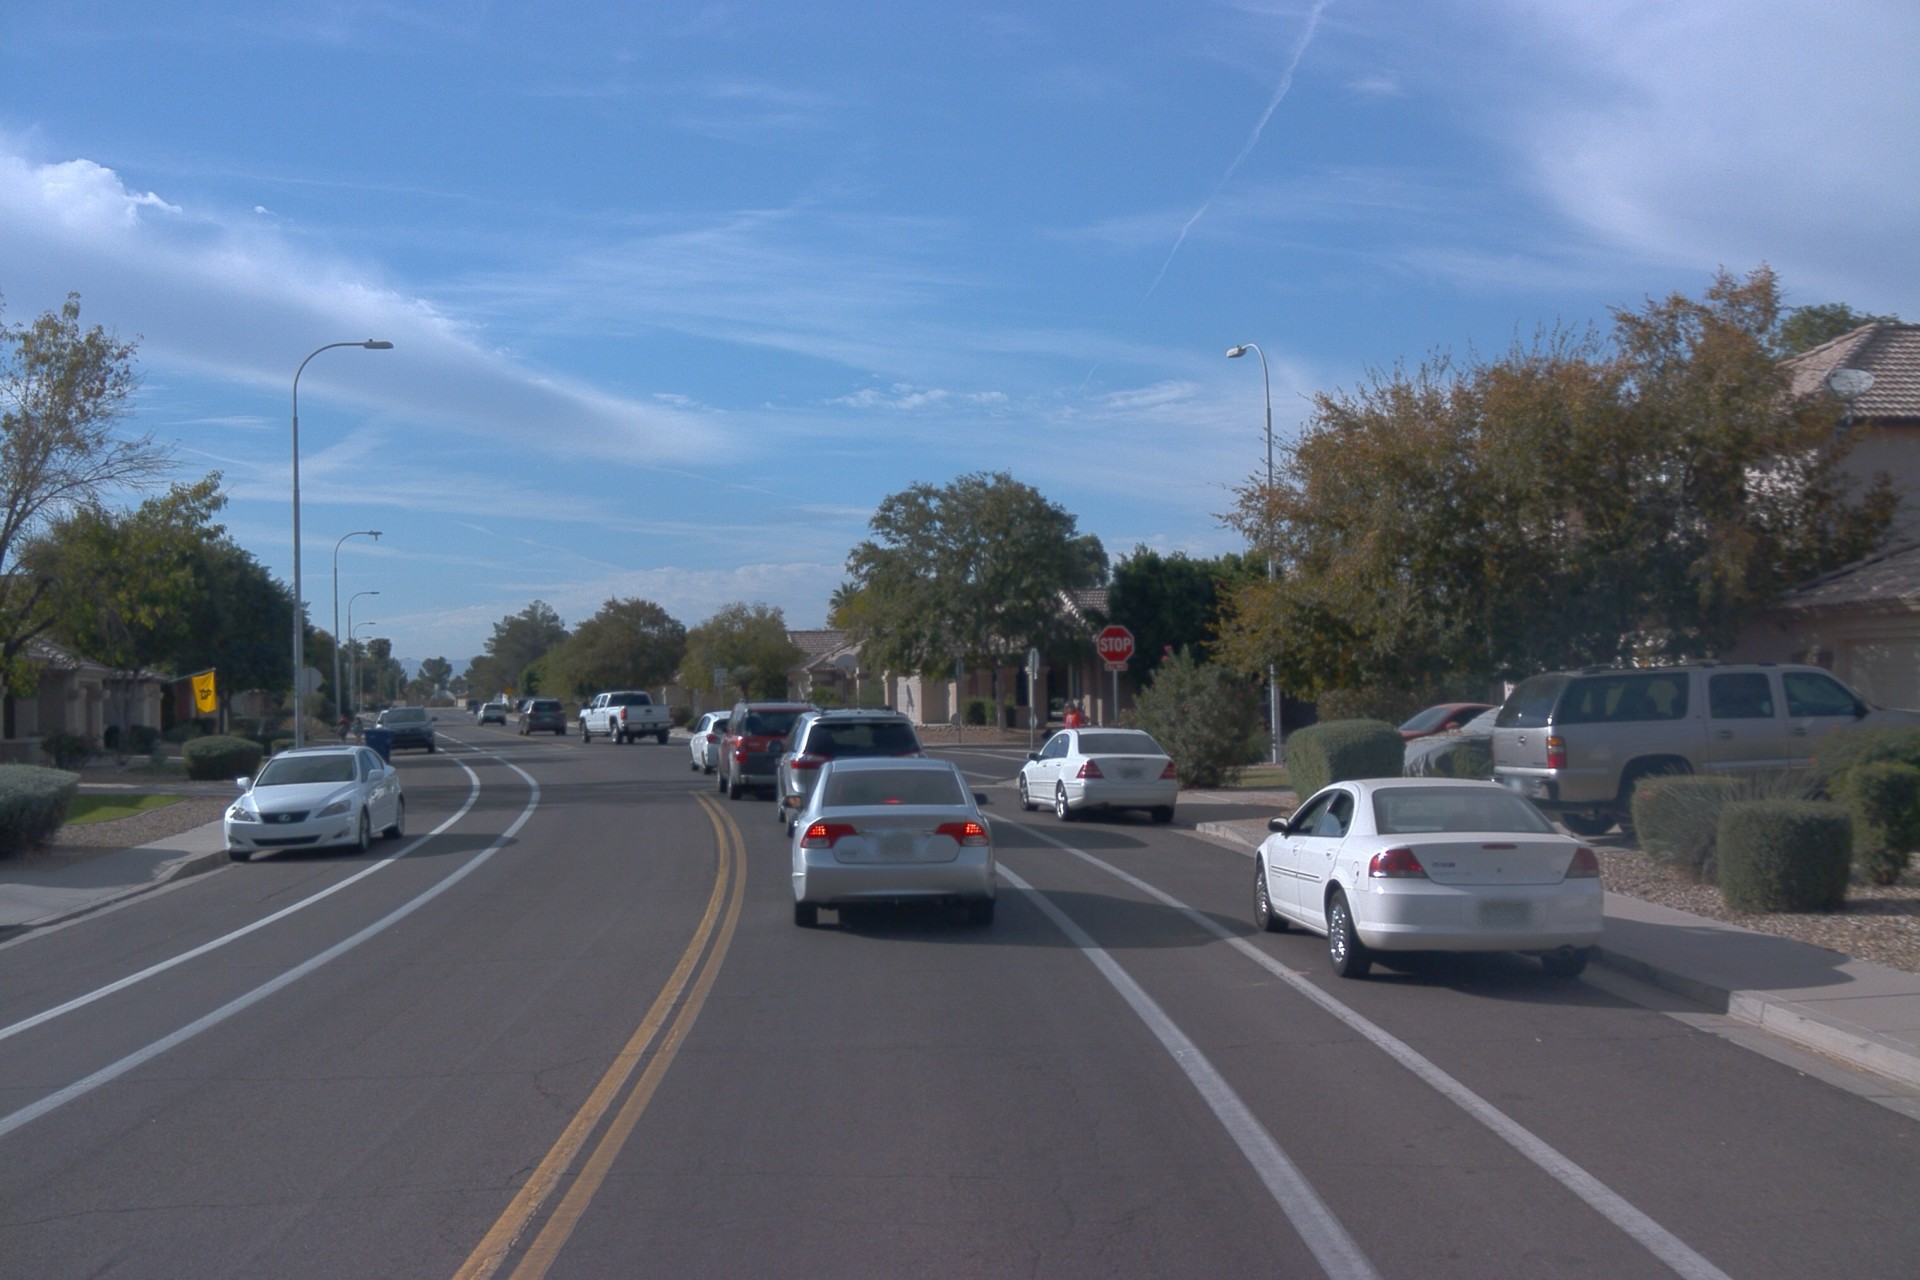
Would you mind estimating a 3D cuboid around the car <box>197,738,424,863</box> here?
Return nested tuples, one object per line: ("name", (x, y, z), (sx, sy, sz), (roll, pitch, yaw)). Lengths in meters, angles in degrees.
("car", (-9.041, 2.196, 29.354), (2.145, 1.490, 4.440), (0, -1, -5))

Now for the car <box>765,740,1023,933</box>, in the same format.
("car", (-0.676, 1.724, 19.350), (2.121, 1.440, 4.395), (0, -1, -3))

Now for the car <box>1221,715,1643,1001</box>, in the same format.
("car", (3.409, 1.518, 16.055), (1.909, 1.780, 4.708), (0, -1, -3))

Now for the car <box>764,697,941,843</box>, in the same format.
("car", (-1.622, 1.769, 29.660), (2.196, 1.870, 4.613), (0, -1, -7))

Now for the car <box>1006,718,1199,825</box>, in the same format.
("car", (2.138, 2.003, 32.606), (1.981, 1.460, 4.428), (0, -1, -10))

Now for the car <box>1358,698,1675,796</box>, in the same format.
("car", (8.608, 1.633, 32.345), (4.335, 1.400, 1.953), (0, -1, -11))

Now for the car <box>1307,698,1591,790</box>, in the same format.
("car", (8.156, 1.712, 34.864), (4.231, 1.440, 1.854), (0, -1, -11))
